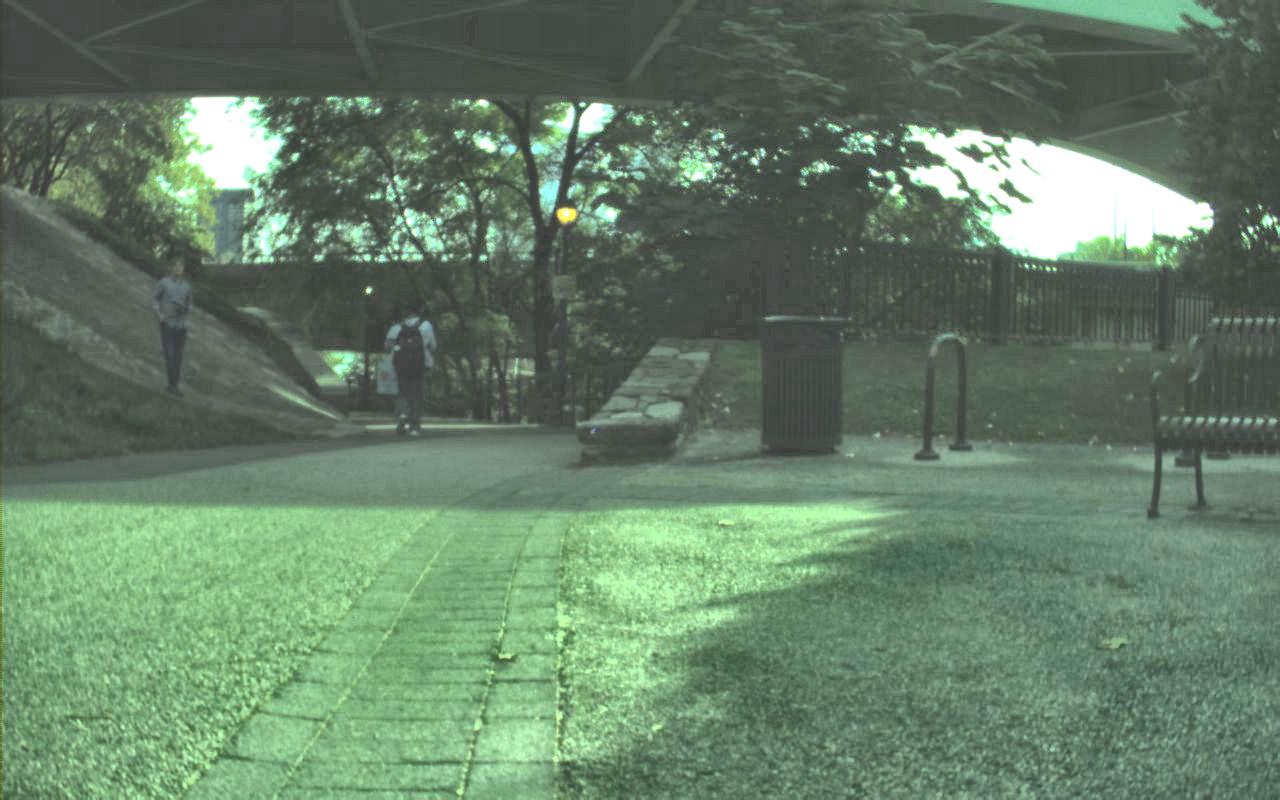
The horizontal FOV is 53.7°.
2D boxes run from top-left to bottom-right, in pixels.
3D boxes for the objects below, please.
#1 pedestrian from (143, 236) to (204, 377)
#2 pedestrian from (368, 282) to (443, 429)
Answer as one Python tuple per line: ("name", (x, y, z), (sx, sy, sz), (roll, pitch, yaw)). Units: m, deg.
("pedestrian", (-6.282, -1.208, 15.882), (0.730, 1.852, 0.708), (0, 0, -29))
("pedestrian", (-2.818, -0.524, 14.953), (0.872, 1.704, 0.886), (0, 0, -10))
